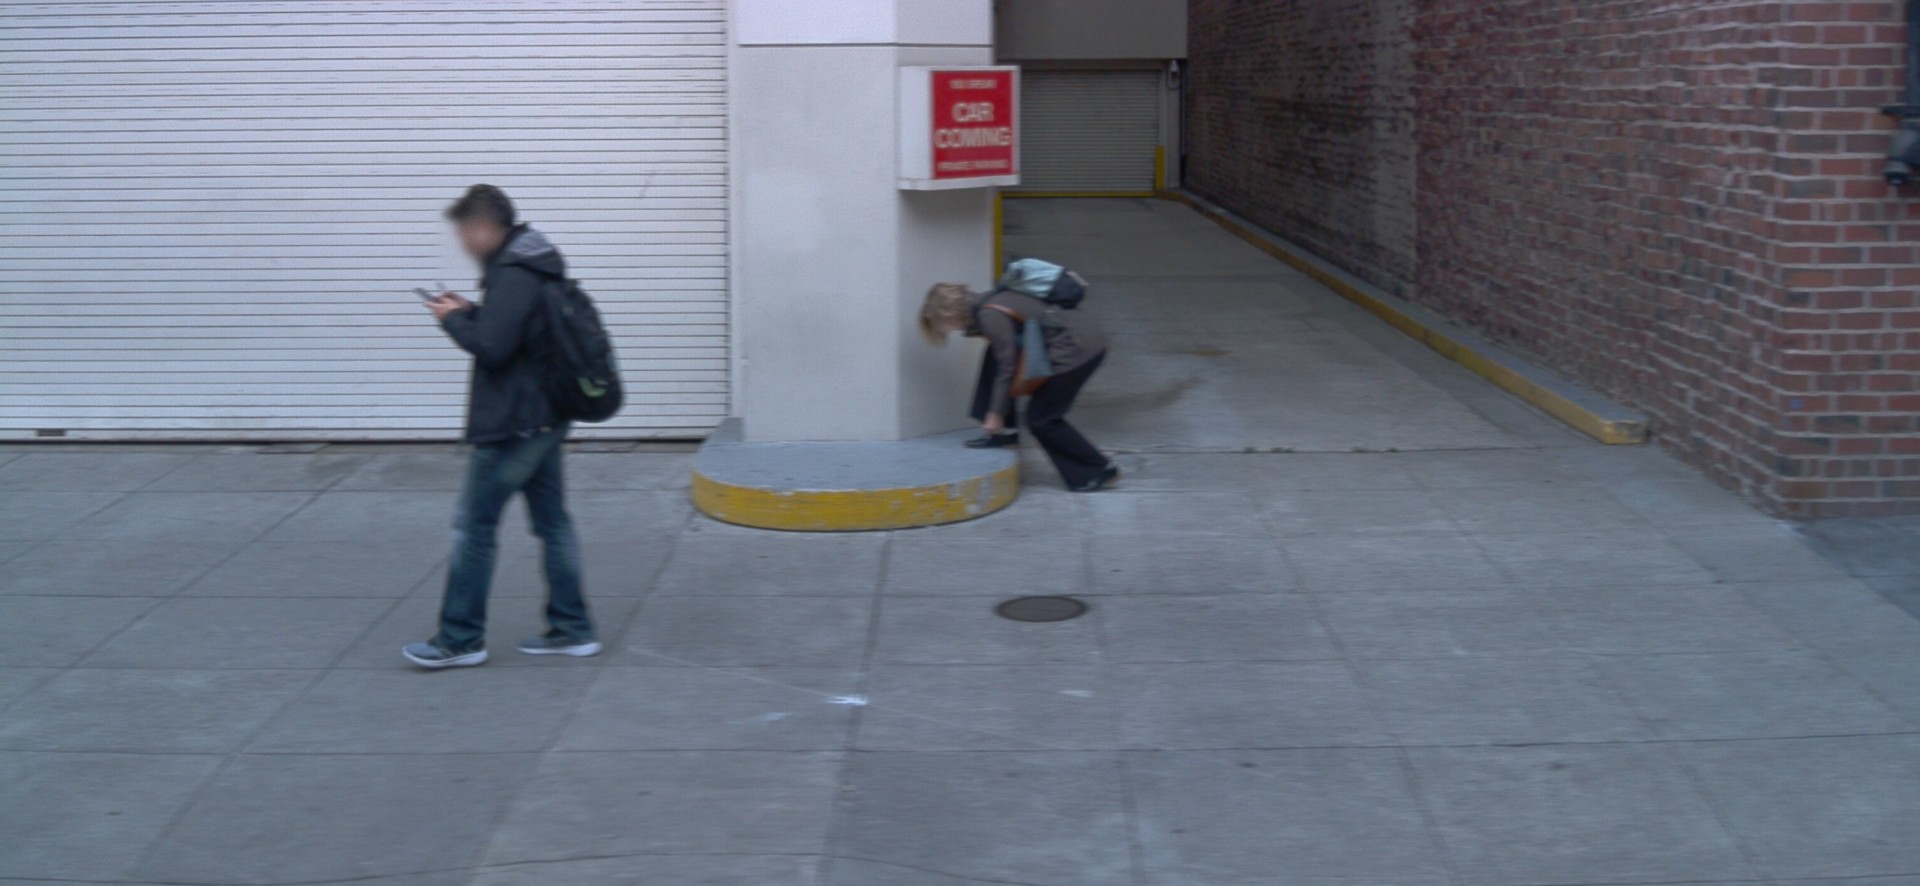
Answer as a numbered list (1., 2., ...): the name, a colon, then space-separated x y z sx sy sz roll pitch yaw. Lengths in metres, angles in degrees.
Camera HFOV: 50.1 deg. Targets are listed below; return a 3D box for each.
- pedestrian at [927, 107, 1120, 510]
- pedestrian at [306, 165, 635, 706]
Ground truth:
1. pedestrian: 0.302 -0.665 9.902 0.881 1.849 0.934 0 1 1
2. pedestrian: -1.721 -0.065 7.340 0.962 1.829 0.741 0 1 4
